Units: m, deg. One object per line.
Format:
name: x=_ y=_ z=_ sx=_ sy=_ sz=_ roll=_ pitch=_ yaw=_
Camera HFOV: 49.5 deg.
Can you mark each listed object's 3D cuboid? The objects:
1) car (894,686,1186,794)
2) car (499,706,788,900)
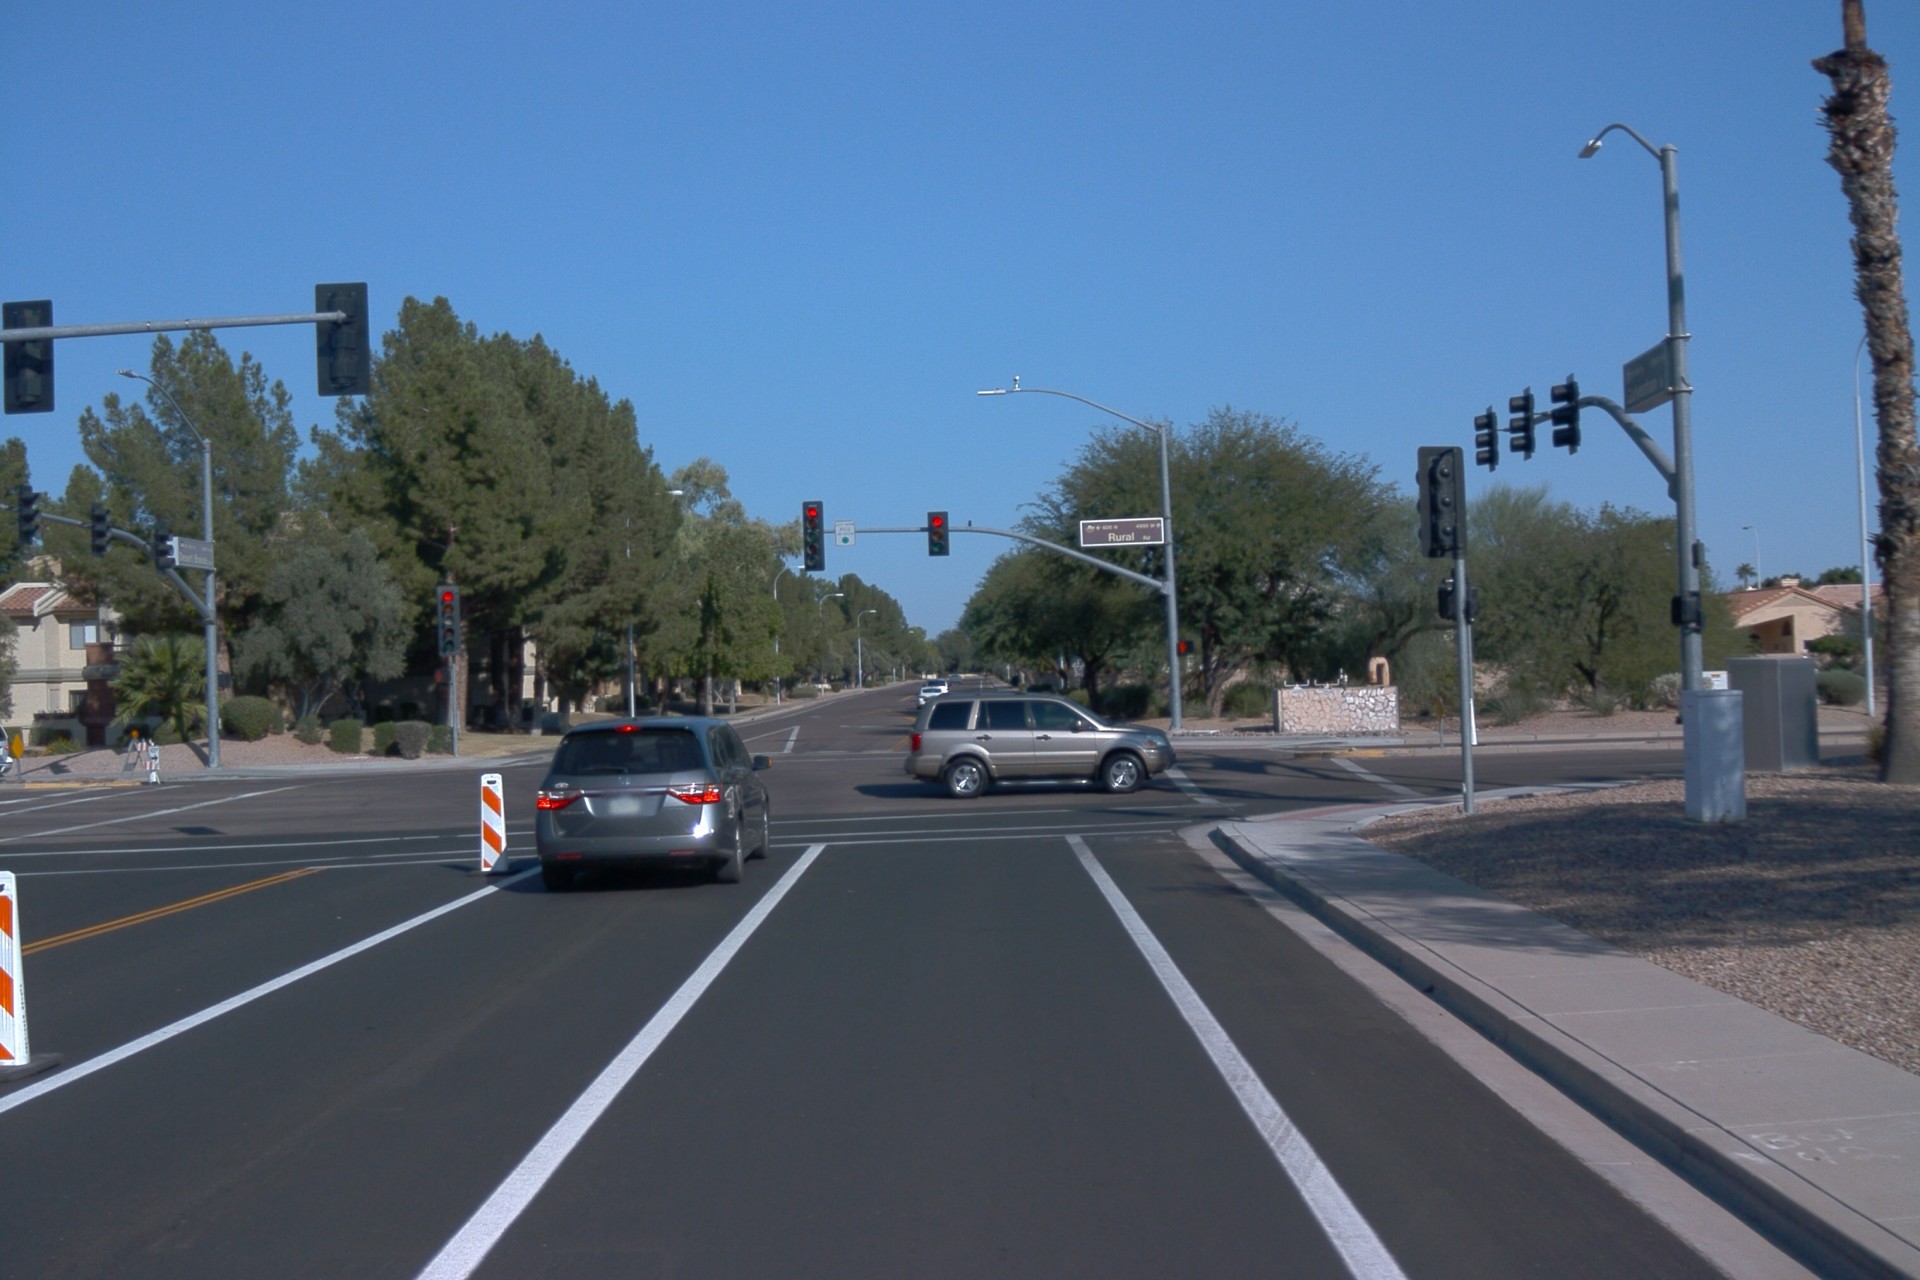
car: x=1.371 y=1.688 z=35.777 sx=4.868 sy=1.790 sz=1.989 roll=0 pitch=-1 yaw=2
car: x=-3.257 y=1.647 z=22.551 sx=2.362 sy=1.810 sz=4.950 roll=0 pitch=-1 yaw=0
